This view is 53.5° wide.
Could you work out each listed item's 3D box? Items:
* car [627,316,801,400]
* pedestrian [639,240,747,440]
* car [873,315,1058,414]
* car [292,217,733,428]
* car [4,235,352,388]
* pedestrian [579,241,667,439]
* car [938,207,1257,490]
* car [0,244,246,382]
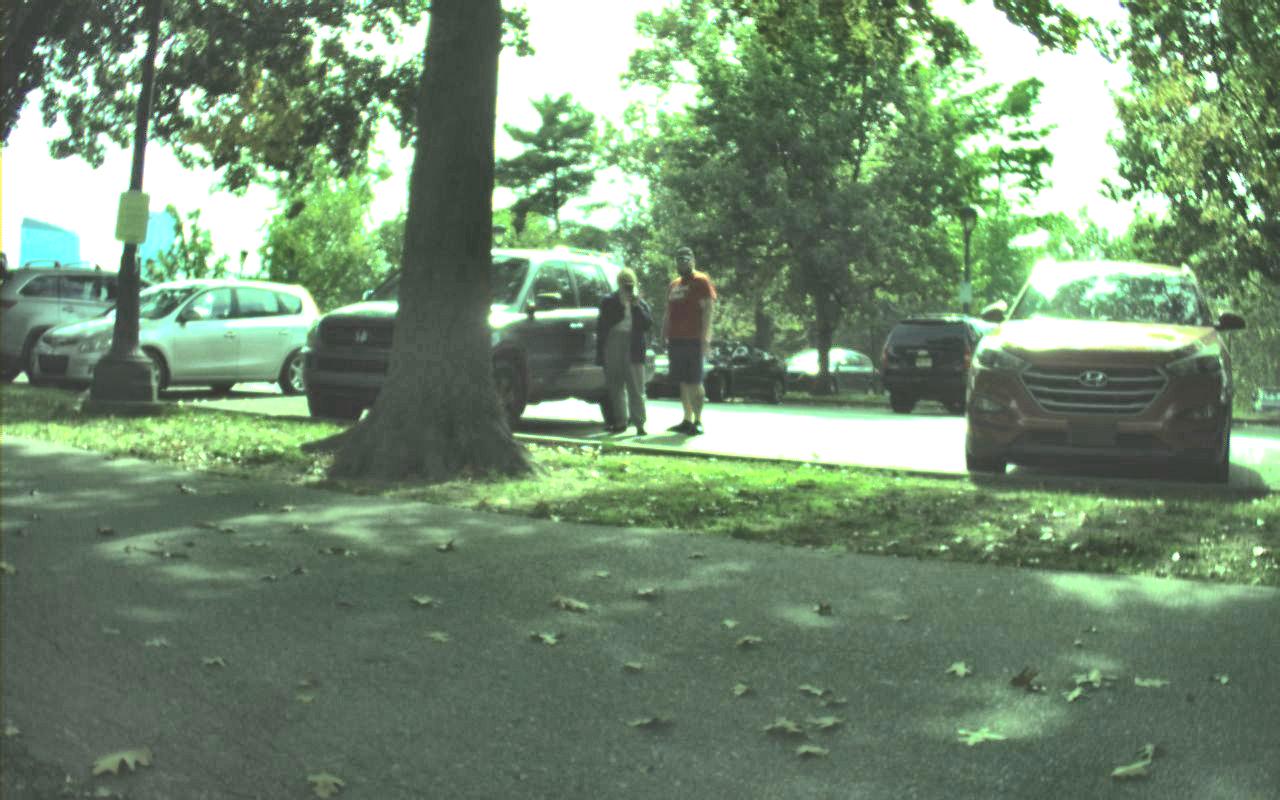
[{"bbox_3d":[1.714,-0.895,27.689,1.921,1.661,4.473,1,1,31],"label":"car"},{"bbox_3d":[0.526,-0.576,12.365,0.766,1.869,0.759,1,0,32],"label":"pedestrian"},{"bbox_3d":[6.644,-0.673,24.714,2.093,1.774,4.773,1,1,37],"label":"car"},{"bbox_3d":[-1.038,-0.659,12.187,1.970,1.643,4.489,1,1,32],"label":"car"},{"bbox_3d":[-5.905,-1.013,15.282,1.948,1.720,4.469,1,1,32],"label":"car"},{"bbox_3d":[-0.171,-0.556,12.020,0.774,1.815,0.756,0,0,-5],"label":"pedestrian"},{"bbox_3d":[3.702,-0.341,9.090,1.983,1.648,4.583,1,1,26],"label":"car"},{"bbox_3d":[-8.098,-1.142,16.883,1.985,1.815,4.581,1,1,38],"label":"car"}]
